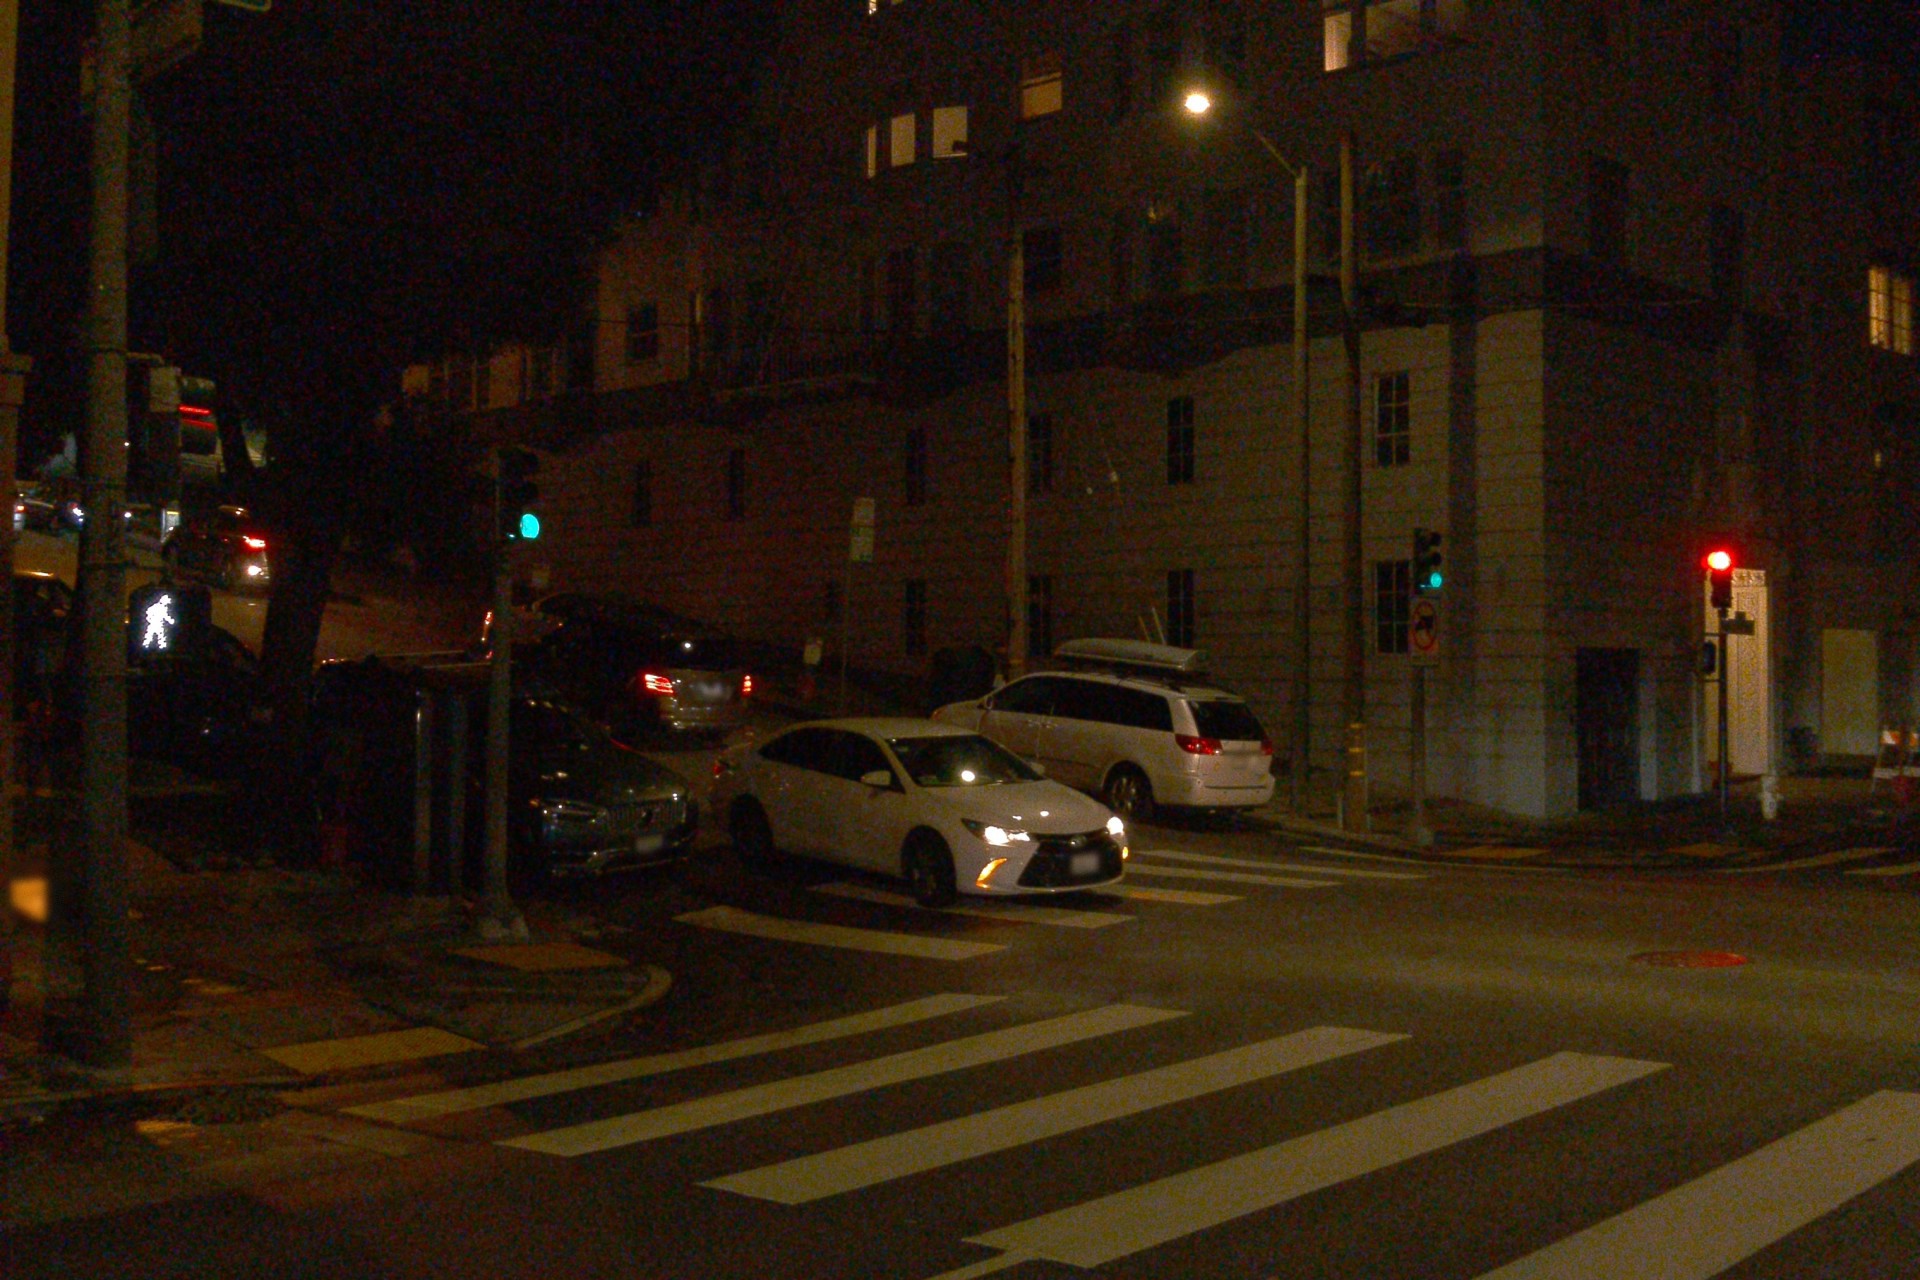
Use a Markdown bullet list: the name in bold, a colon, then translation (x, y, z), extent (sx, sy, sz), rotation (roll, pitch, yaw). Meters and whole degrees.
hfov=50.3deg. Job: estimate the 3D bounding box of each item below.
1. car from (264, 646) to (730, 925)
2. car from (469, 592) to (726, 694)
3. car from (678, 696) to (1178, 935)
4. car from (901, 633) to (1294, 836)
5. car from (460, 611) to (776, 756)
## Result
- **car**: translation (-4.590, 1.239, 19.807), extent (2.195, 2.290, 4.784), rotation (0, 1, -44)
- **car**: translation (-6.218, 0.019, 34.848), extent (4.539, 1.626, 1.925), rotation (1, 1, 42)
- **car**: translation (-0.458, 1.499, 19.243), extent (2.180, 1.748, 4.872), rotation (0, 1, -38)
- **car**: translation (1.732, 1.135, 27.135), extent (4.904, 2.388, 2.213), rotation (1, 1, 44)
- **car**: translation (-4.909, 0.545, 29.006), extent (4.561, 1.883, 2.058), rotation (1, 1, 43)
